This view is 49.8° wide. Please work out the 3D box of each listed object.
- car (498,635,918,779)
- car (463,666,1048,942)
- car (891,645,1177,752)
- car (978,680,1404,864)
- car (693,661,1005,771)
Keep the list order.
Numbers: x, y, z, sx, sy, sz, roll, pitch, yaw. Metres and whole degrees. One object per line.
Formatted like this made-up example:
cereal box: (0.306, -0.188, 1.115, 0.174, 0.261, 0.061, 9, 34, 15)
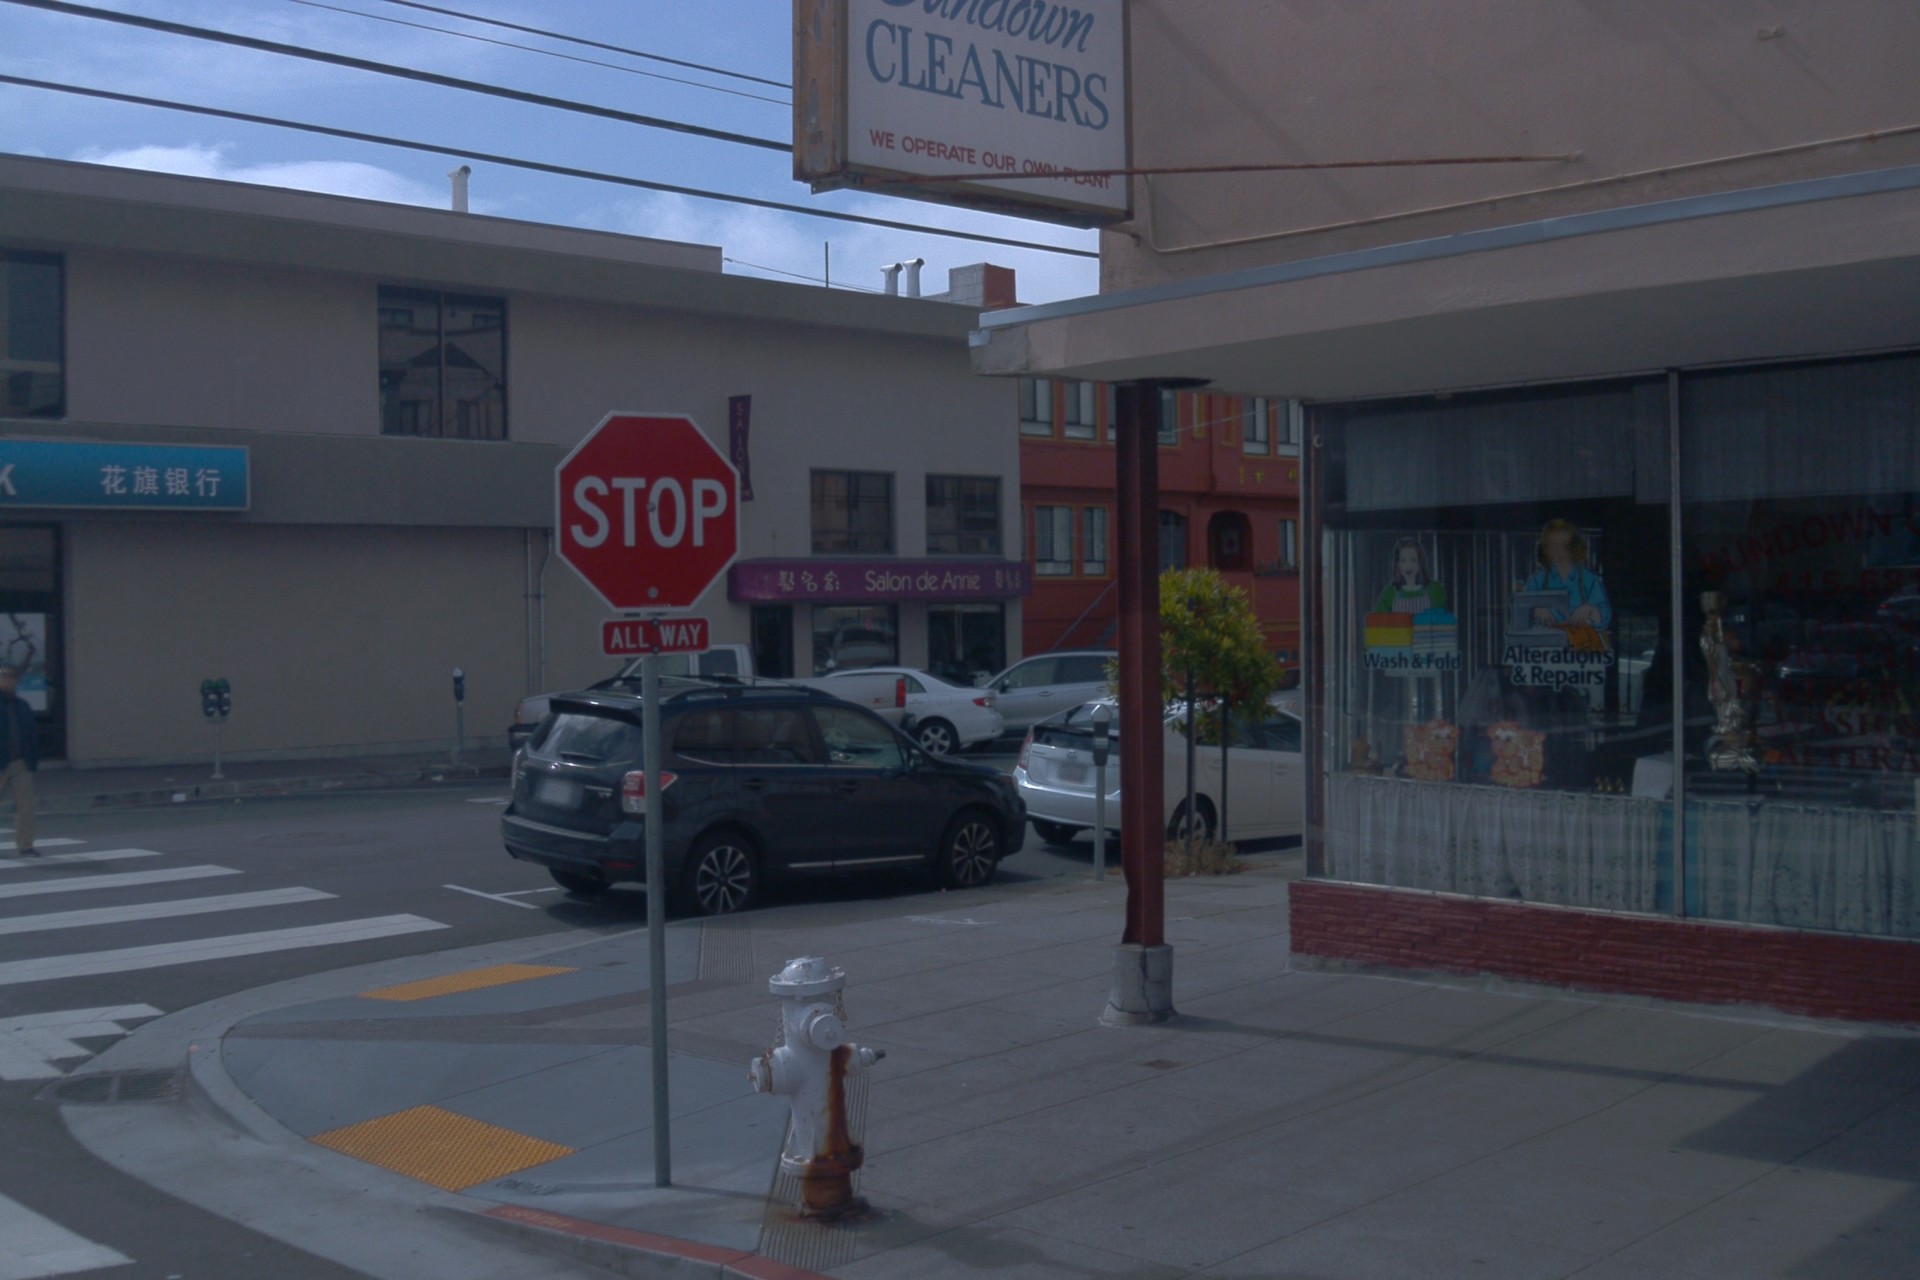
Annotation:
car: (-3.552, 0.948, 30.012, 5.805, 1.970, 2.405, 0, -1, -2)
car: (-1.501, 1.158, 16.489, 2.005, 1.877, 4.386, 0, -1, 44)
car: (1.314, 0.976, 35.326, 4.703, 1.730, 2.088, 0, -1, 8)
car: (2.359, 1.200, 20.331, 2.020, 1.567, 4.203, 0, -1, 44)
car: (-1.682, 1.160, 32.530, 4.699, 1.630, 2.090, 0, -1, 4)
